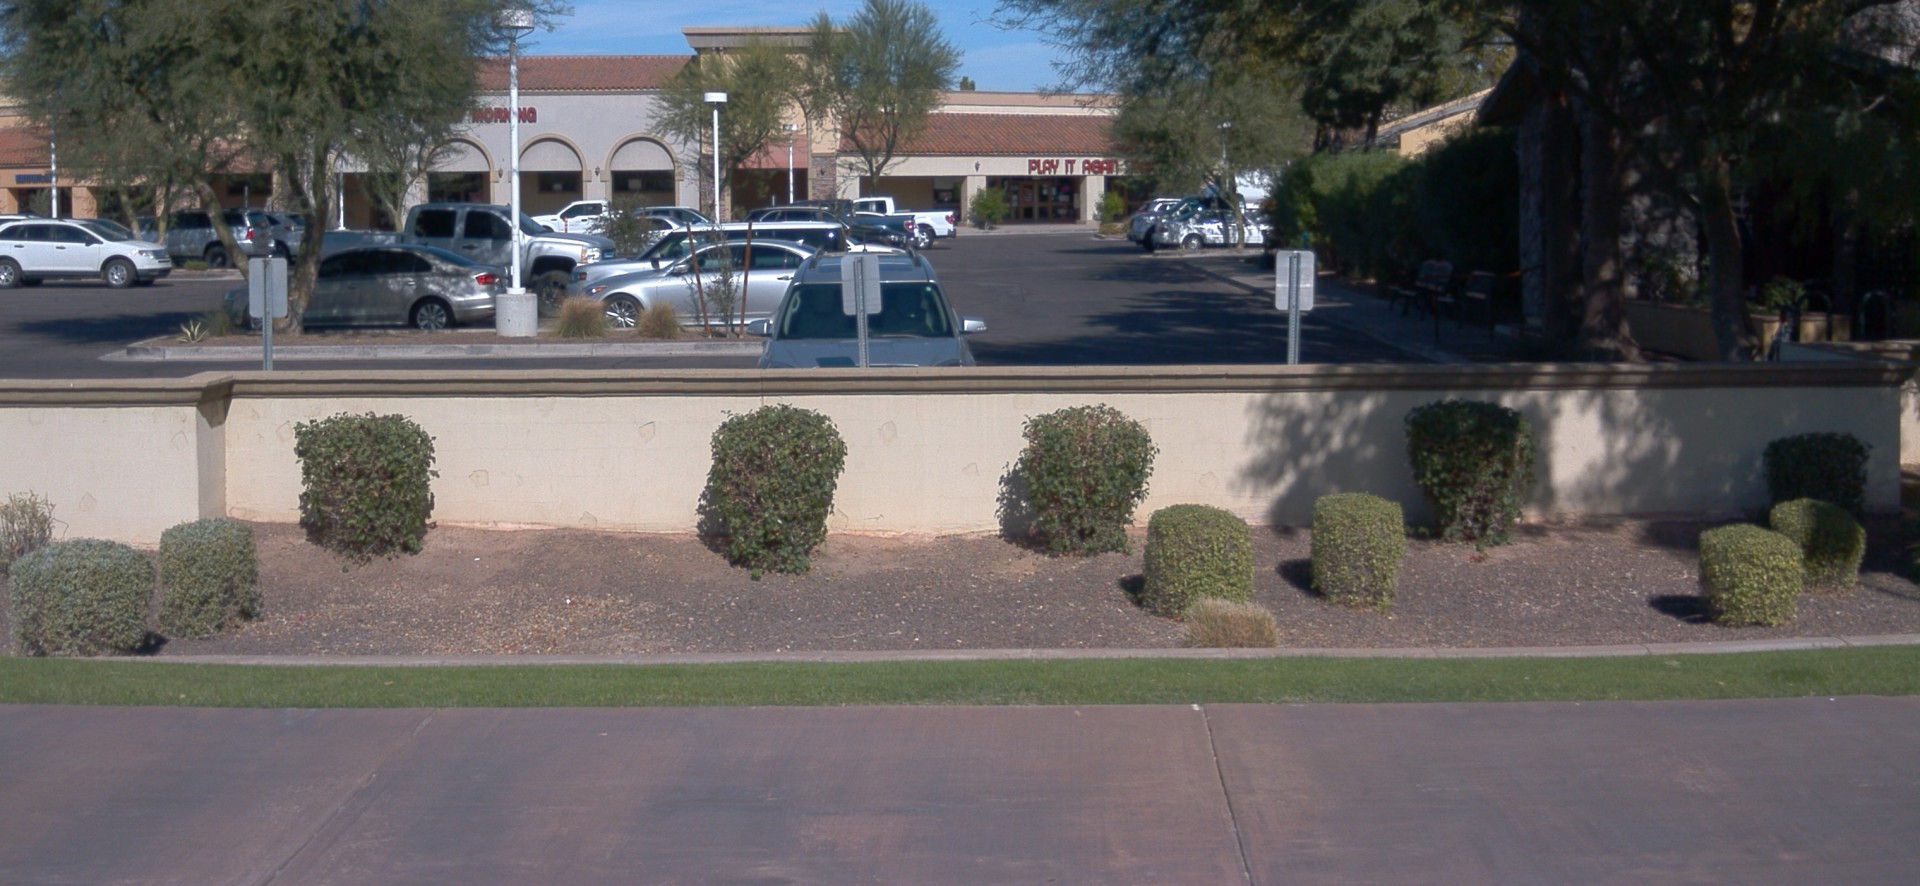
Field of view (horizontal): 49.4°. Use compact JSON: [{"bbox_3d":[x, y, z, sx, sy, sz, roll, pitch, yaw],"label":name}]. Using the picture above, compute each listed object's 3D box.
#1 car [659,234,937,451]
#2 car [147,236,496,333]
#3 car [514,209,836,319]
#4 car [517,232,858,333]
[{"bbox_3d":[-1.378,-1.033,19.174,2.212,1.714,4.996,0,5,-2],"label":"car"},{"bbox_3d":[-10.069,-2.537,33.217,4.872,1.467,2.162,0,4,-1],"label":"car"},{"bbox_3d":[-4.812,-3.077,35.852,5.203,1.797,2.184,0,3,0],"label":"car"},{"bbox_3d":[-4.190,-2.541,32.821,5.057,1.497,2.209,0,4,-1],"label":"car"}]
